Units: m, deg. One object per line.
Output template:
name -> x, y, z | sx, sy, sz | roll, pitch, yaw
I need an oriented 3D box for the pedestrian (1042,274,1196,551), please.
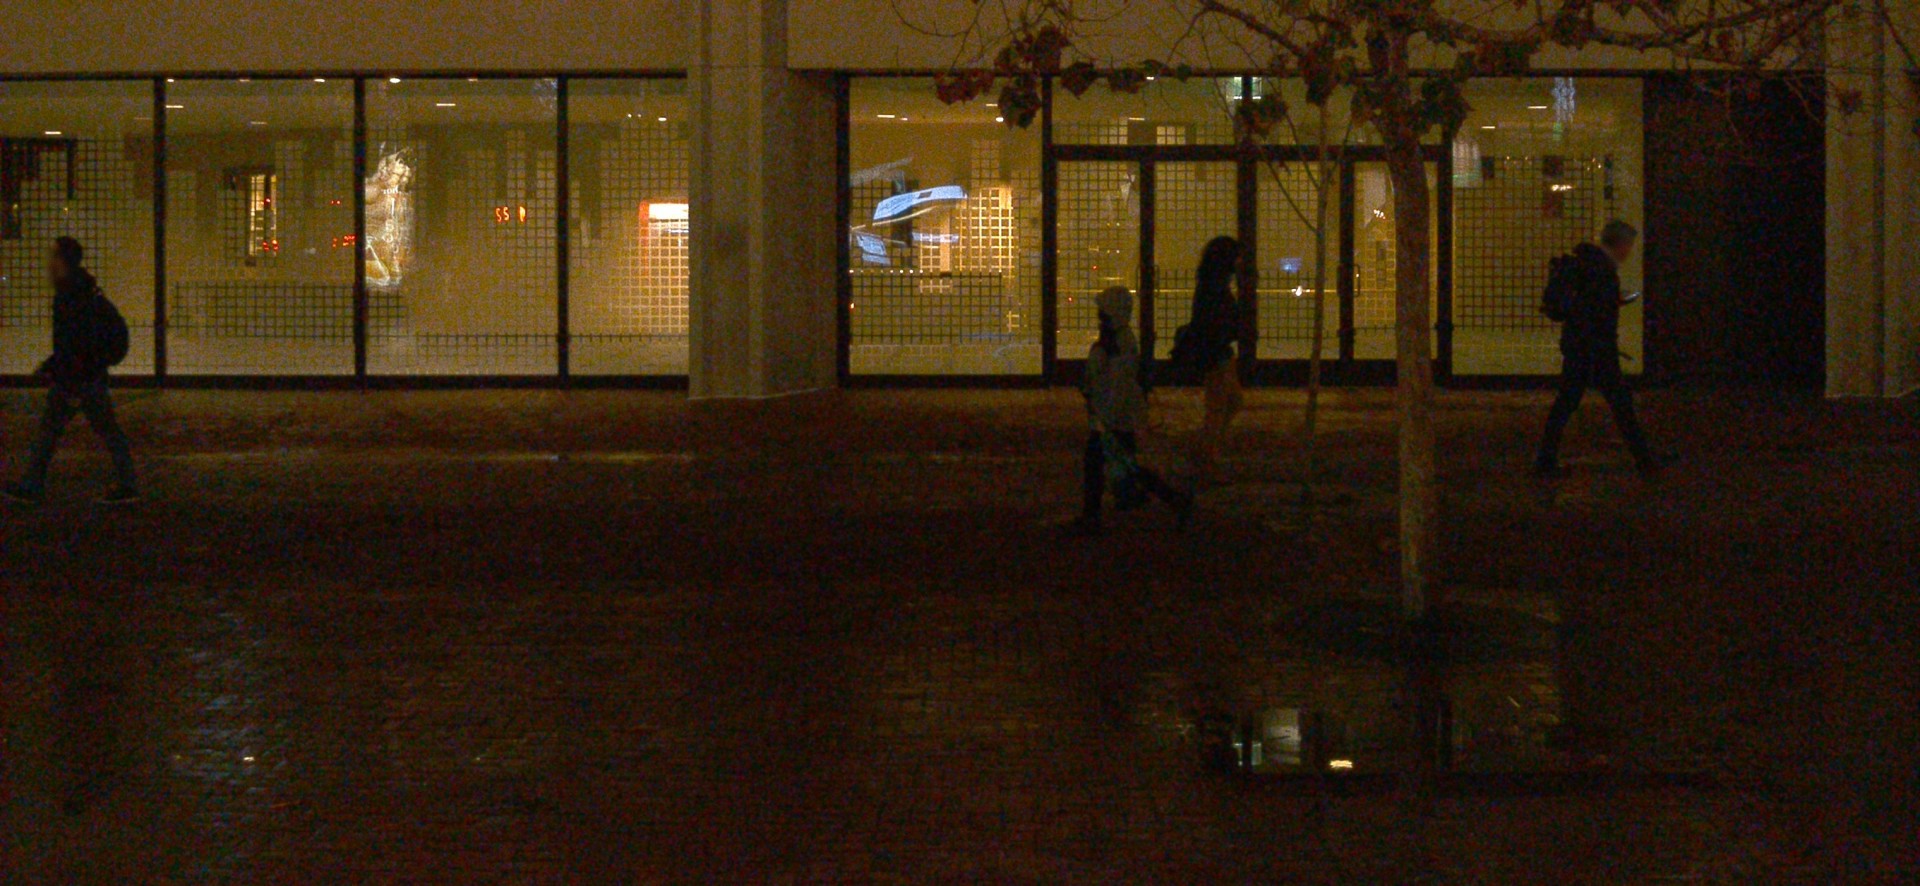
pedestrian -> 0.933, -0.213, 12.312 | 0.868, 1.581, 0.941 | 0, 1, 2

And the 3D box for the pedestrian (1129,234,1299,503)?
pedestrian -> 1.720, -0.529, 14.052 | 1.048, 1.781, 0.731 | 0, 0, -2

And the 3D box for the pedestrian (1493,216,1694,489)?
pedestrian -> 4.377, -0.652, 14.289 | 1.111, 1.831, 0.844 | 0, 1, -3
